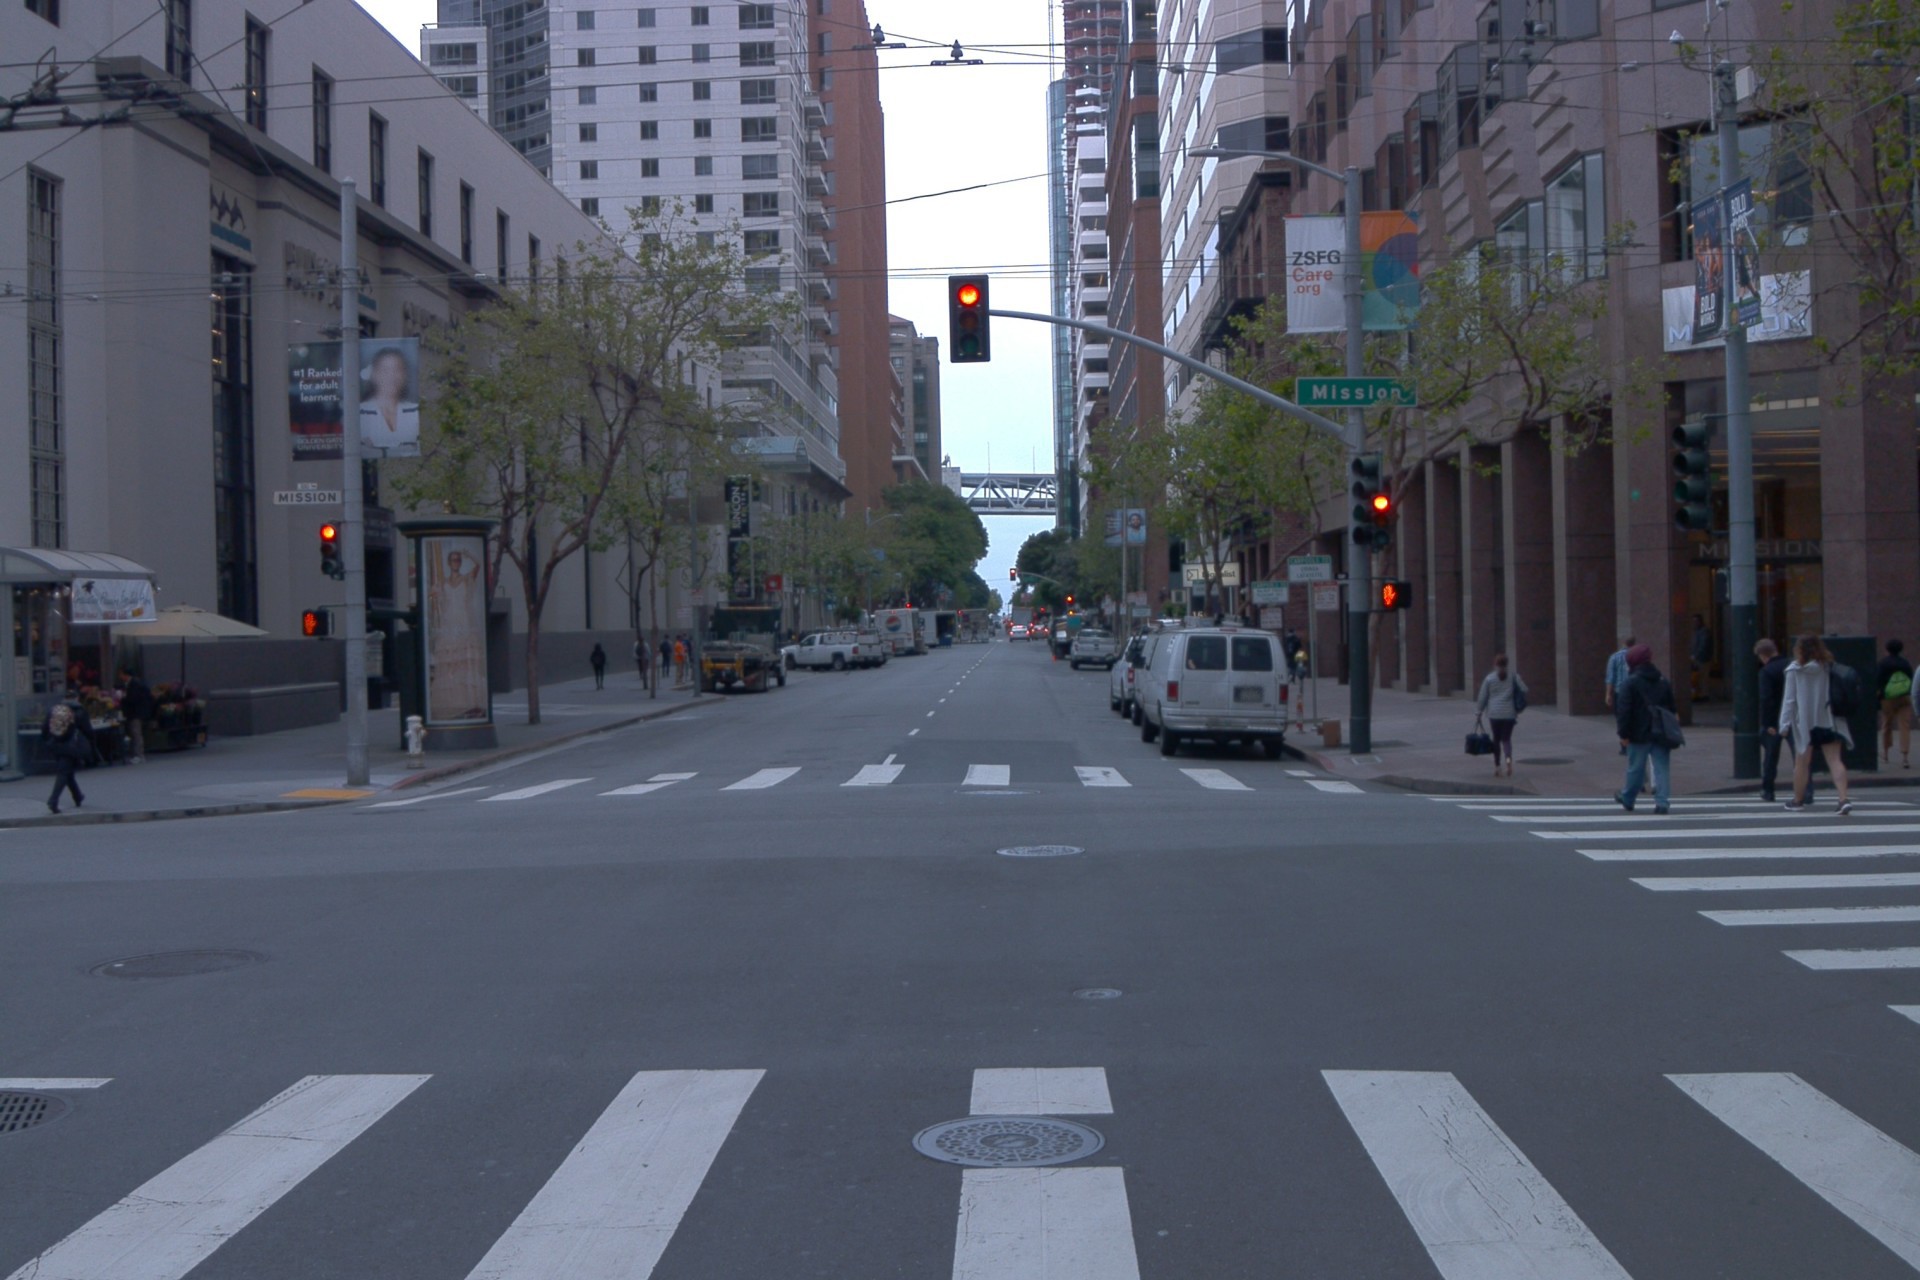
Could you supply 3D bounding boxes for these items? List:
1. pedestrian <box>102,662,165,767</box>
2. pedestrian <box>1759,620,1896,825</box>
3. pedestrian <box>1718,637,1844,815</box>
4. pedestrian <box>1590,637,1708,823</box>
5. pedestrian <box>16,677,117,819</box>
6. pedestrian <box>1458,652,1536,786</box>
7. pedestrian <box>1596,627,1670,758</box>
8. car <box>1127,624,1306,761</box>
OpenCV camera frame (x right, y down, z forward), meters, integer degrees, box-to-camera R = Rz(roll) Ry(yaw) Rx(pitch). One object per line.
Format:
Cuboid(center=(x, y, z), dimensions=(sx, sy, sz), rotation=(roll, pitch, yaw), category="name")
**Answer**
Cuboid(center=(-14.062, 1.265, 35.000), dimensions=(0.753, 1.746, 0.847), rotation=(0, 1, -3), category="pedestrian")
Cuboid(center=(8.063, 0.748, 19.139), dimensions=(0.843, 1.856, 0.961), rotation=(0, 1, -1), category="pedestrian")
Cuboid(center=(8.241, 0.844, 20.665), dimensions=(0.855, 1.736, 0.998), rotation=(0, 1, 0), category="pedestrian")
Cuboid(center=(6.580, 0.839, 19.670), dimensions=(0.757, 1.713, 0.970), rotation=(0, 1, -4), category="pedestrian")
Cuboid(center=(-11.544, 1.379, 26.577), dimensions=(0.845, 1.766, 0.960), rotation=(0, 1, 4), category="pedestrian")
Cuboid(center=(7.004, 1.011, 26.858), dimensions=(0.920, 1.696, 0.980), rotation=(0, 1, 11), category="pedestrian")
Cuboid(center=(9.264, 0.706, 28.321), dimensions=(0.725, 1.766, 0.971), rotation=(0, 1, 2), category="pedestrian")
Cuboid(center=(4.208, 0.797, 34.678), dimensions=(2.314, 2.100, 5.500), rotation=(0, 1, 0), category="car")
